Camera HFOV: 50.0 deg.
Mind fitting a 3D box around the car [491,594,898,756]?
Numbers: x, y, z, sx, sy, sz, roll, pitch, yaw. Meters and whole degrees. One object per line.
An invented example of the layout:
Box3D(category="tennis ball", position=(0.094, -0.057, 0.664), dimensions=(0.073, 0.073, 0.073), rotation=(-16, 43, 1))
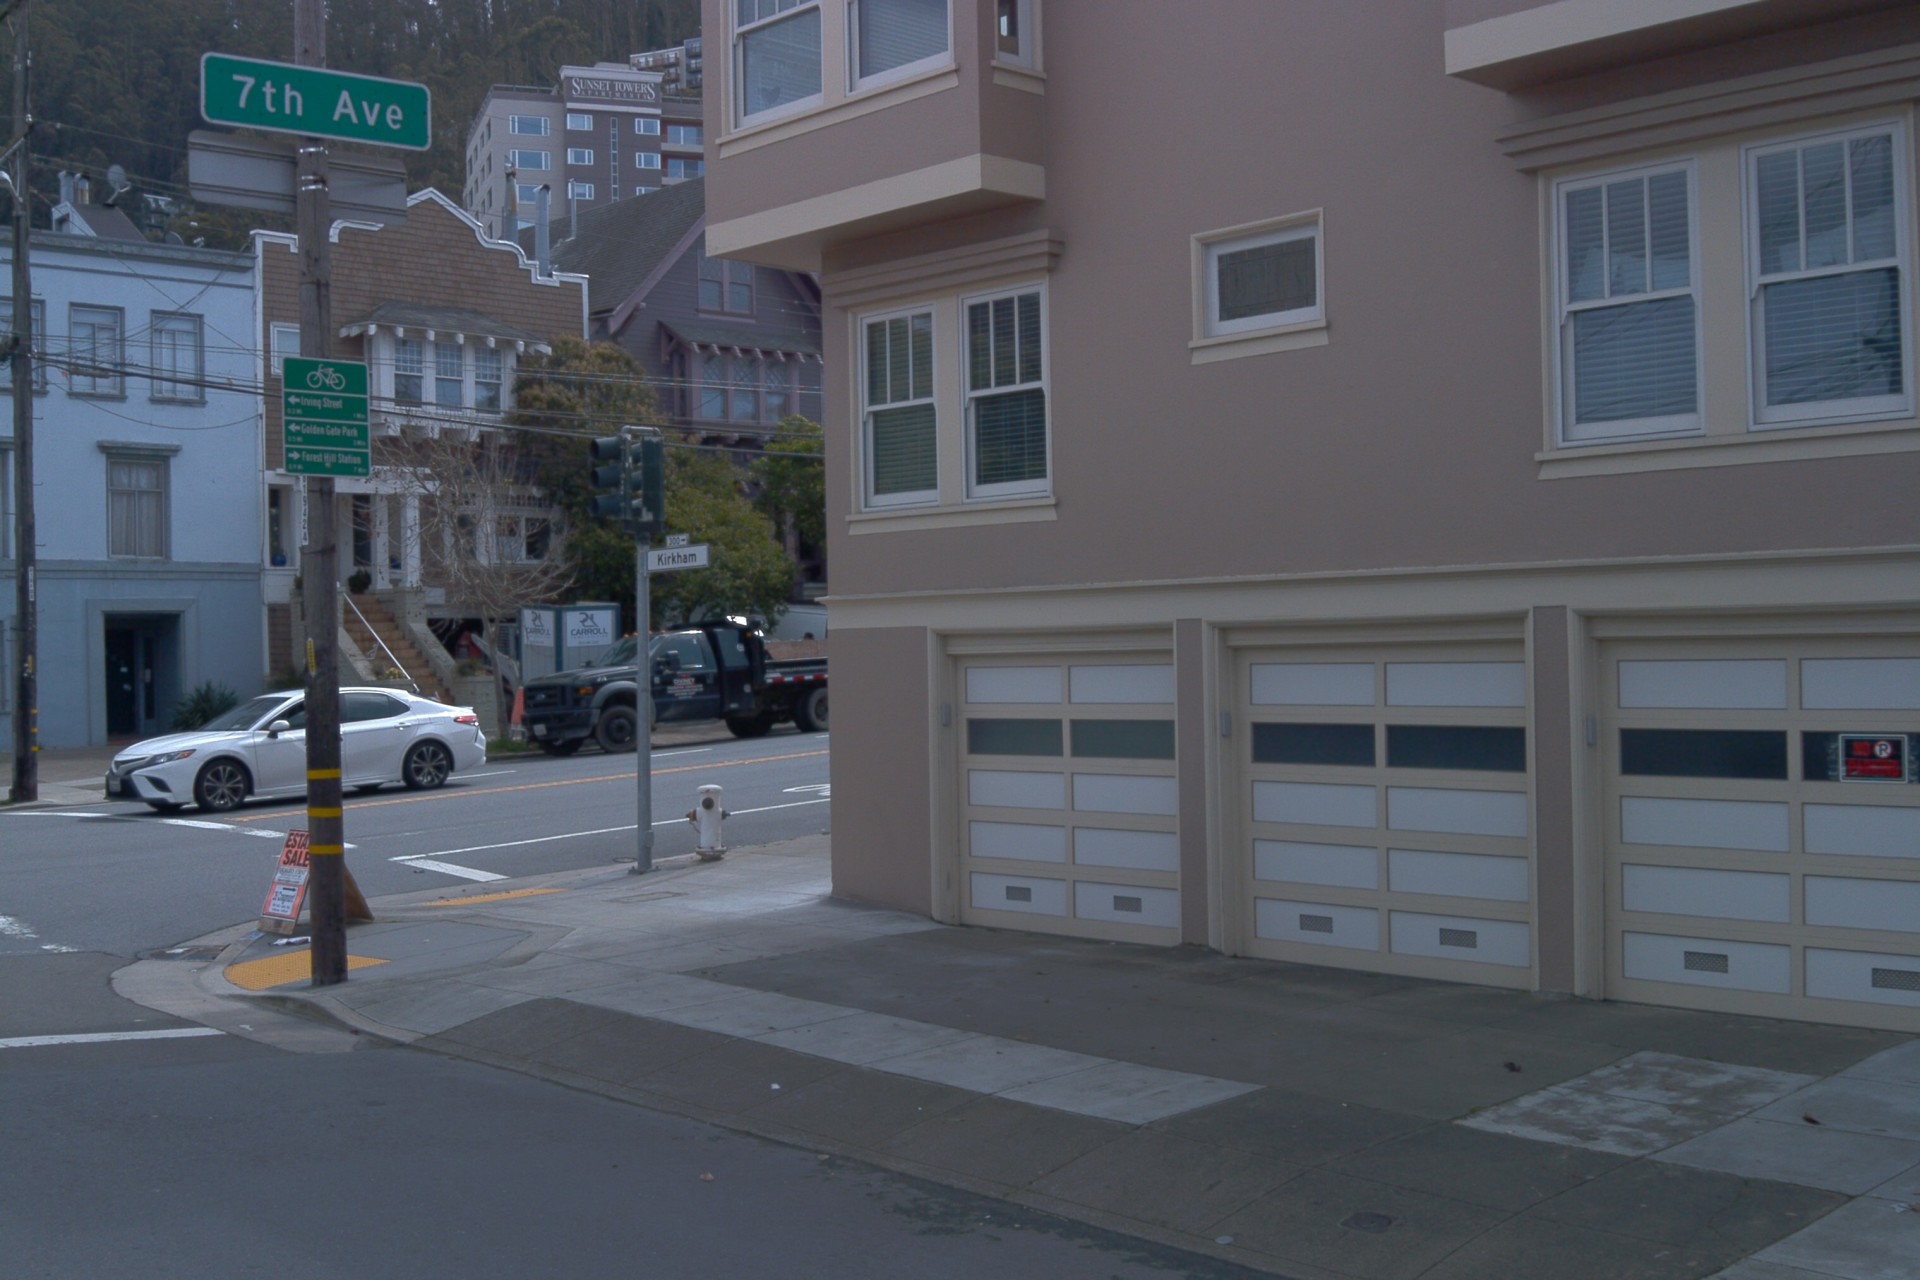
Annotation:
Box3D(category="car", position=(-4.462, 0.560, 35.723), dimensions=(6.727, 2.550, 2.715), rotation=(0, 0, -45))

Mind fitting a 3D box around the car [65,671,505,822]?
Box3D(category="car", position=(-8.582, 1.280, 26.484), dimensions=(4.932, 1.690, 2.138), rotation=(0, 0, -44))
